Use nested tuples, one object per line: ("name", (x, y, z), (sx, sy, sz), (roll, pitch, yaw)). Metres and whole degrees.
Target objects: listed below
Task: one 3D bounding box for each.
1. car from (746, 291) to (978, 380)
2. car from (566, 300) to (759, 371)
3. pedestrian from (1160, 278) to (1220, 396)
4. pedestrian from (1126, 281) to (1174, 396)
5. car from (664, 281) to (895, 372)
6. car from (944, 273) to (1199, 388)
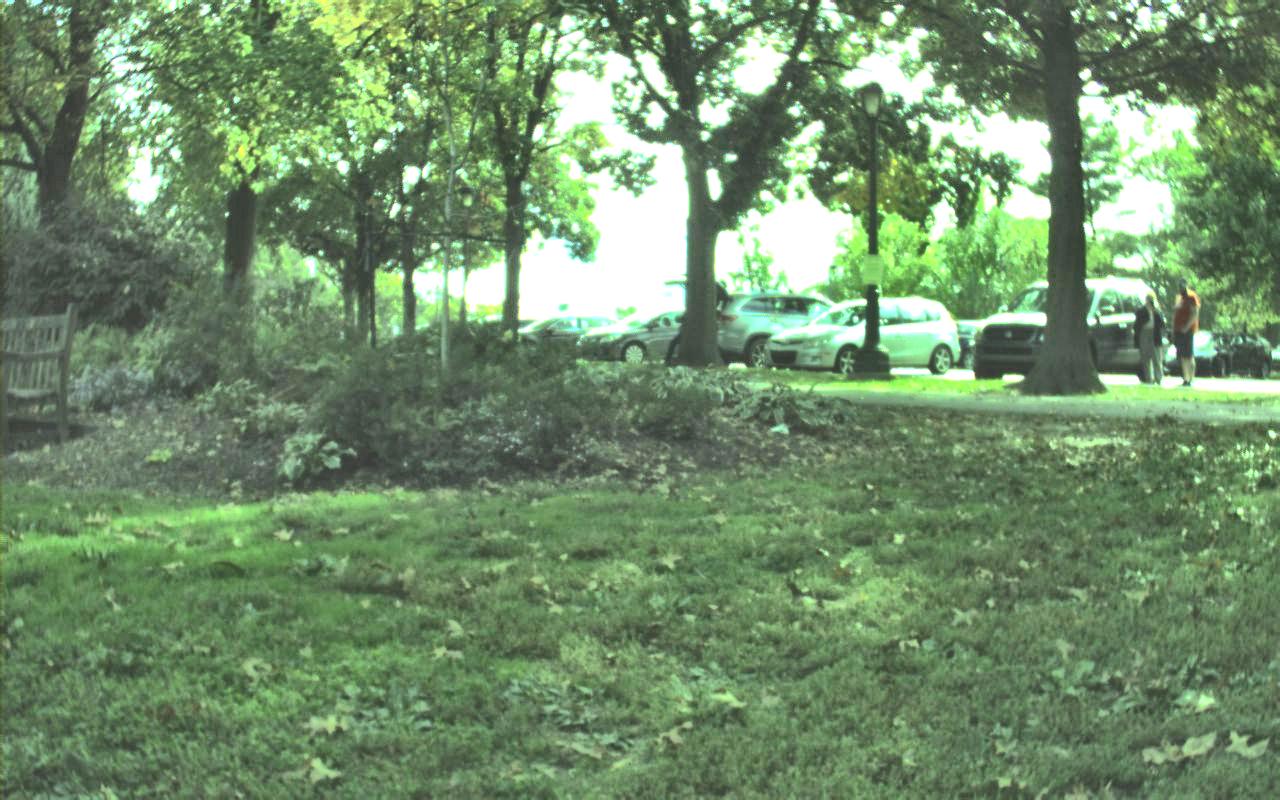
("car", (4.425, -1.194, 24.536), (4.562, 1.581, 1.934), (0, 1, -35))
("car", (0.580, -1.546, 31.405), (4.415, 1.605, 1.948), (0, 1, -32))
("pedestrian", (8.962, -0.975, 19.069), (0.759, 1.869, 0.766), (0, 0, -34))
("pedestrian", (8.188, -0.949, 19.044), (0.770, 1.815, 0.759), (1, 0, 20))
("car", (3.002, -1.494, 26.814), (4.573, 1.771, 1.982), (0, 1, -26))
("car", (7.191, -1.031, 19.734), (4.577, 1.657, 2.005), (0, 1, -34))
